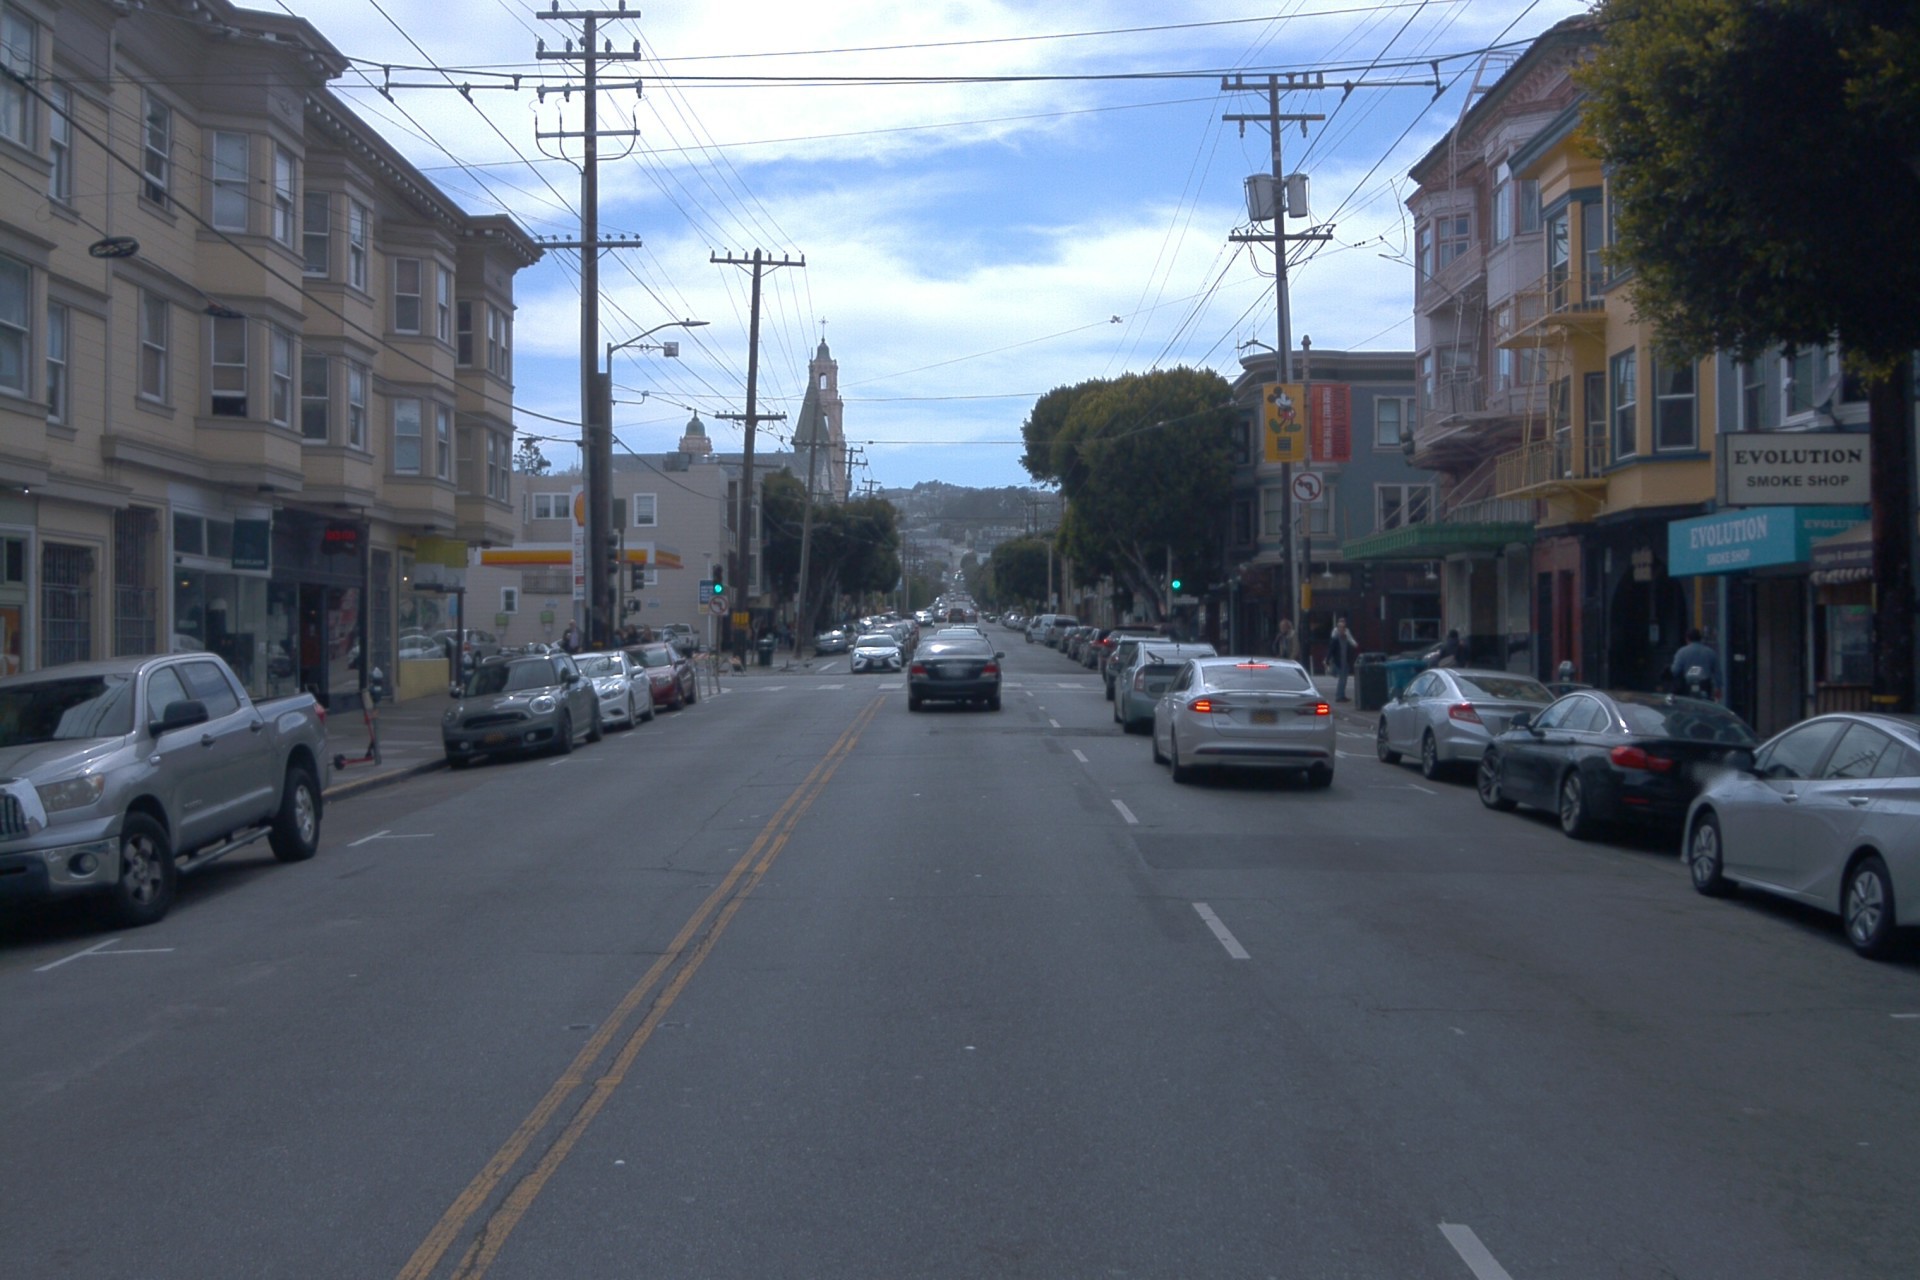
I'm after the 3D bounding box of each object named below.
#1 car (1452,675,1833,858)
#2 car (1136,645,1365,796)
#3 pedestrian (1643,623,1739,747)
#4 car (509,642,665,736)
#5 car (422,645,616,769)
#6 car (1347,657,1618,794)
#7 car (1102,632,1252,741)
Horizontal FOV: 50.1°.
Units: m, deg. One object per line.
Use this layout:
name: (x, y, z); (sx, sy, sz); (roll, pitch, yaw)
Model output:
car: (6.455, 1.135, 20.103); (2.090, 1.410, 4.679); (0, 1, -1)
car: (3.413, 0.891, 25.133); (2.170, 1.570, 4.849); (0, 1, 1)
pedestrian: (10.339, 0.623, 29.118); (1.077, 1.723, 0.957); (0, 1, 6)
car: (-6.789, 0.847, 37.909); (2.139, 1.520, 4.891); (0, 1, -2)
car: (-6.704, 0.969, 31.750); (2.038, 1.690, 4.341); (0, 1, 0)
car: (6.626, 1.032, 26.653); (2.276, 1.510, 4.546); (0, 1, -1)
car: (3.534, 0.714, 34.241); (2.106, 1.640, 4.495); (0, 1, 1)
